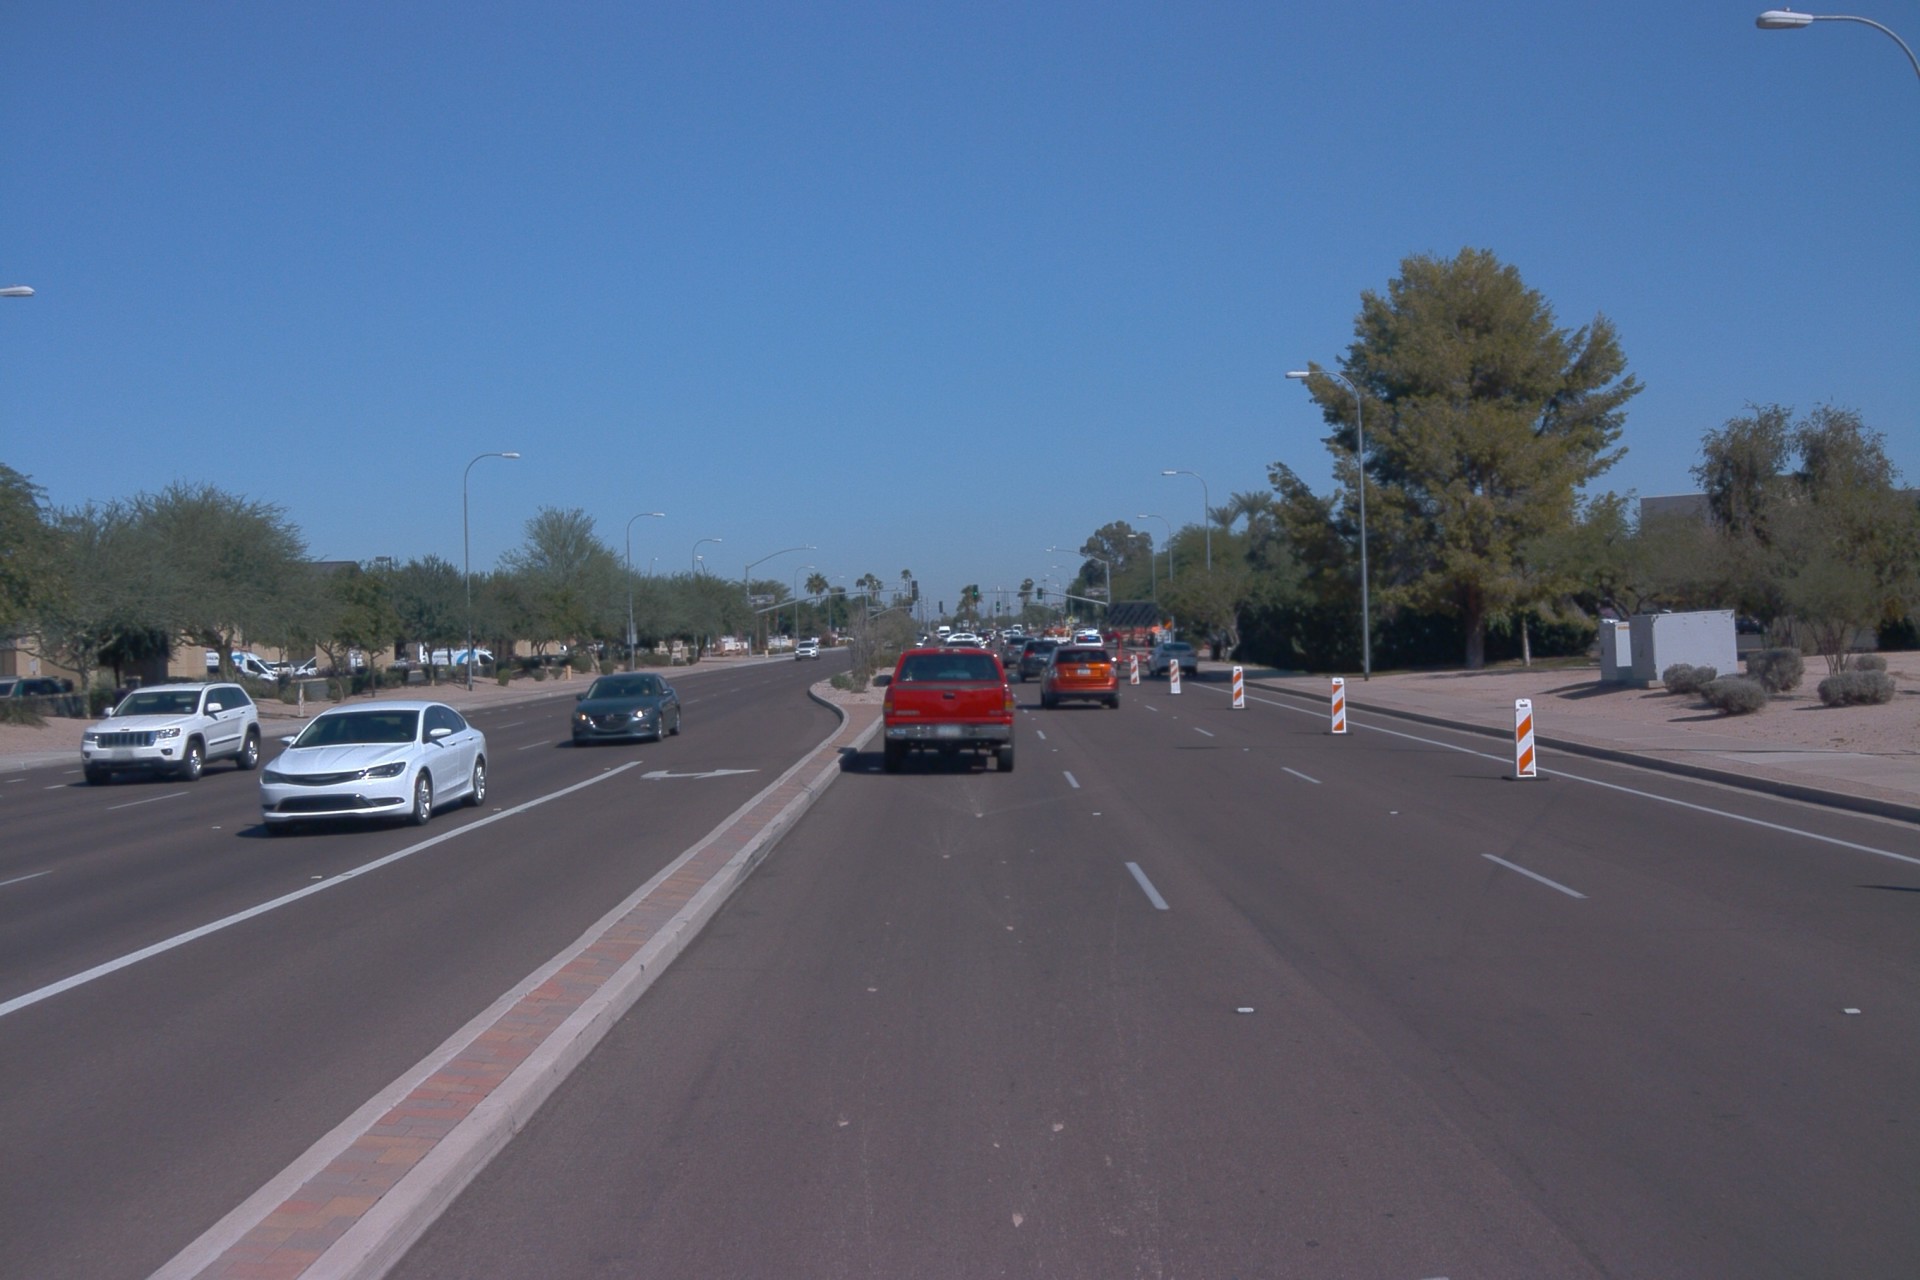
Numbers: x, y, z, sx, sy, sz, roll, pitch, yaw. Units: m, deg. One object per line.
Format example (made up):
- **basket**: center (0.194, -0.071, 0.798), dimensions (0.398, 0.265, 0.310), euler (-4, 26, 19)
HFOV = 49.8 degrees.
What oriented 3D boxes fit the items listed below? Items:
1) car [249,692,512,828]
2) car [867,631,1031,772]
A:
- **car**: center (-7.283, 1.464, 26.539), dimensions (2.086, 1.470, 4.609), euler (0, 0, 0)
- **car**: center (-0.143, 0.887, 32.568), dimensions (2.340, 2.010, 5.847), euler (0, 0, 0)
